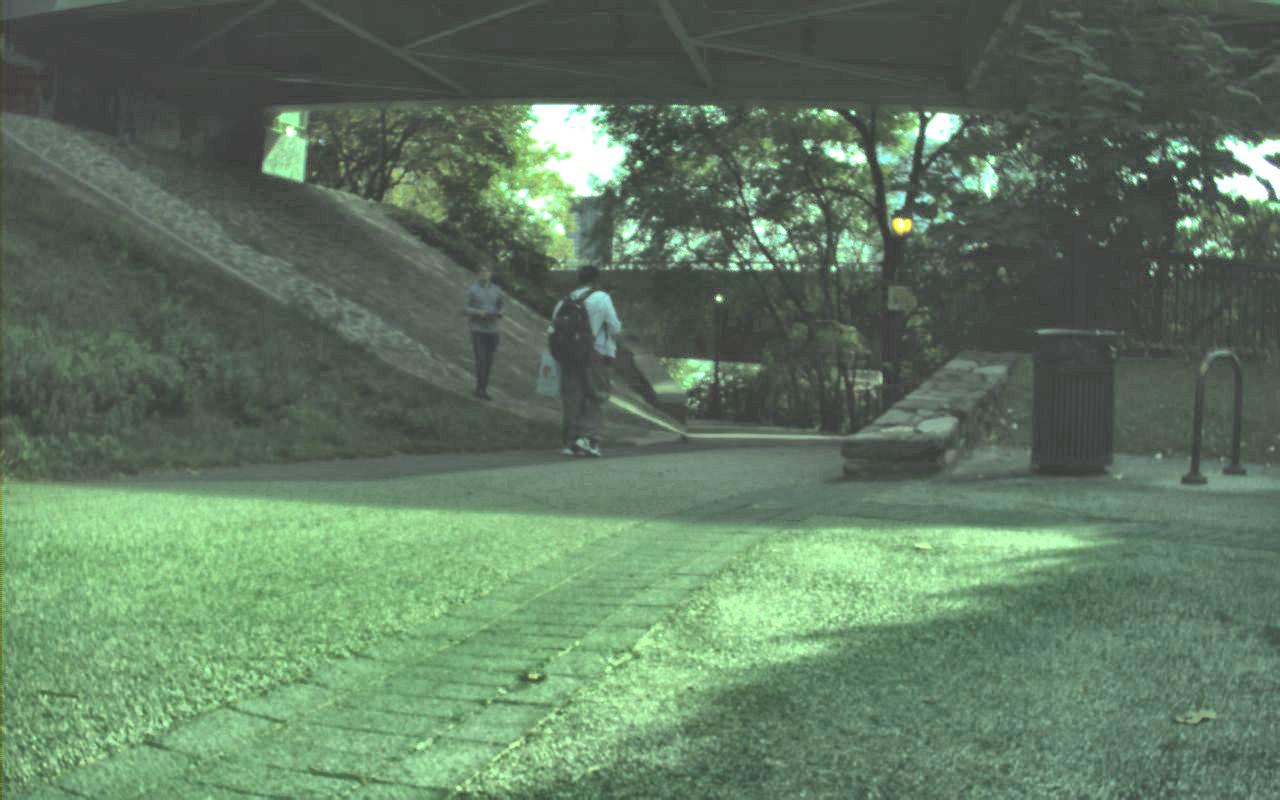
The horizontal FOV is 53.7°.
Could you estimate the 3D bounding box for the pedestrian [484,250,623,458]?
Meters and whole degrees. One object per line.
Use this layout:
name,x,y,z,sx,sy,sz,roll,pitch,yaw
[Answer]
pedestrian,-0.744,-0.398,10.976,0.858,1.713,0.903,1,0,26

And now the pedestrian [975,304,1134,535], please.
pedestrian,2.826,0.127,8.255,0.802,1.487,0.845,0,0,-11

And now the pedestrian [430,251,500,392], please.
pedestrian,-2.381,-1.039,16.933,0.787,1.862,0.788,0,0,-20
